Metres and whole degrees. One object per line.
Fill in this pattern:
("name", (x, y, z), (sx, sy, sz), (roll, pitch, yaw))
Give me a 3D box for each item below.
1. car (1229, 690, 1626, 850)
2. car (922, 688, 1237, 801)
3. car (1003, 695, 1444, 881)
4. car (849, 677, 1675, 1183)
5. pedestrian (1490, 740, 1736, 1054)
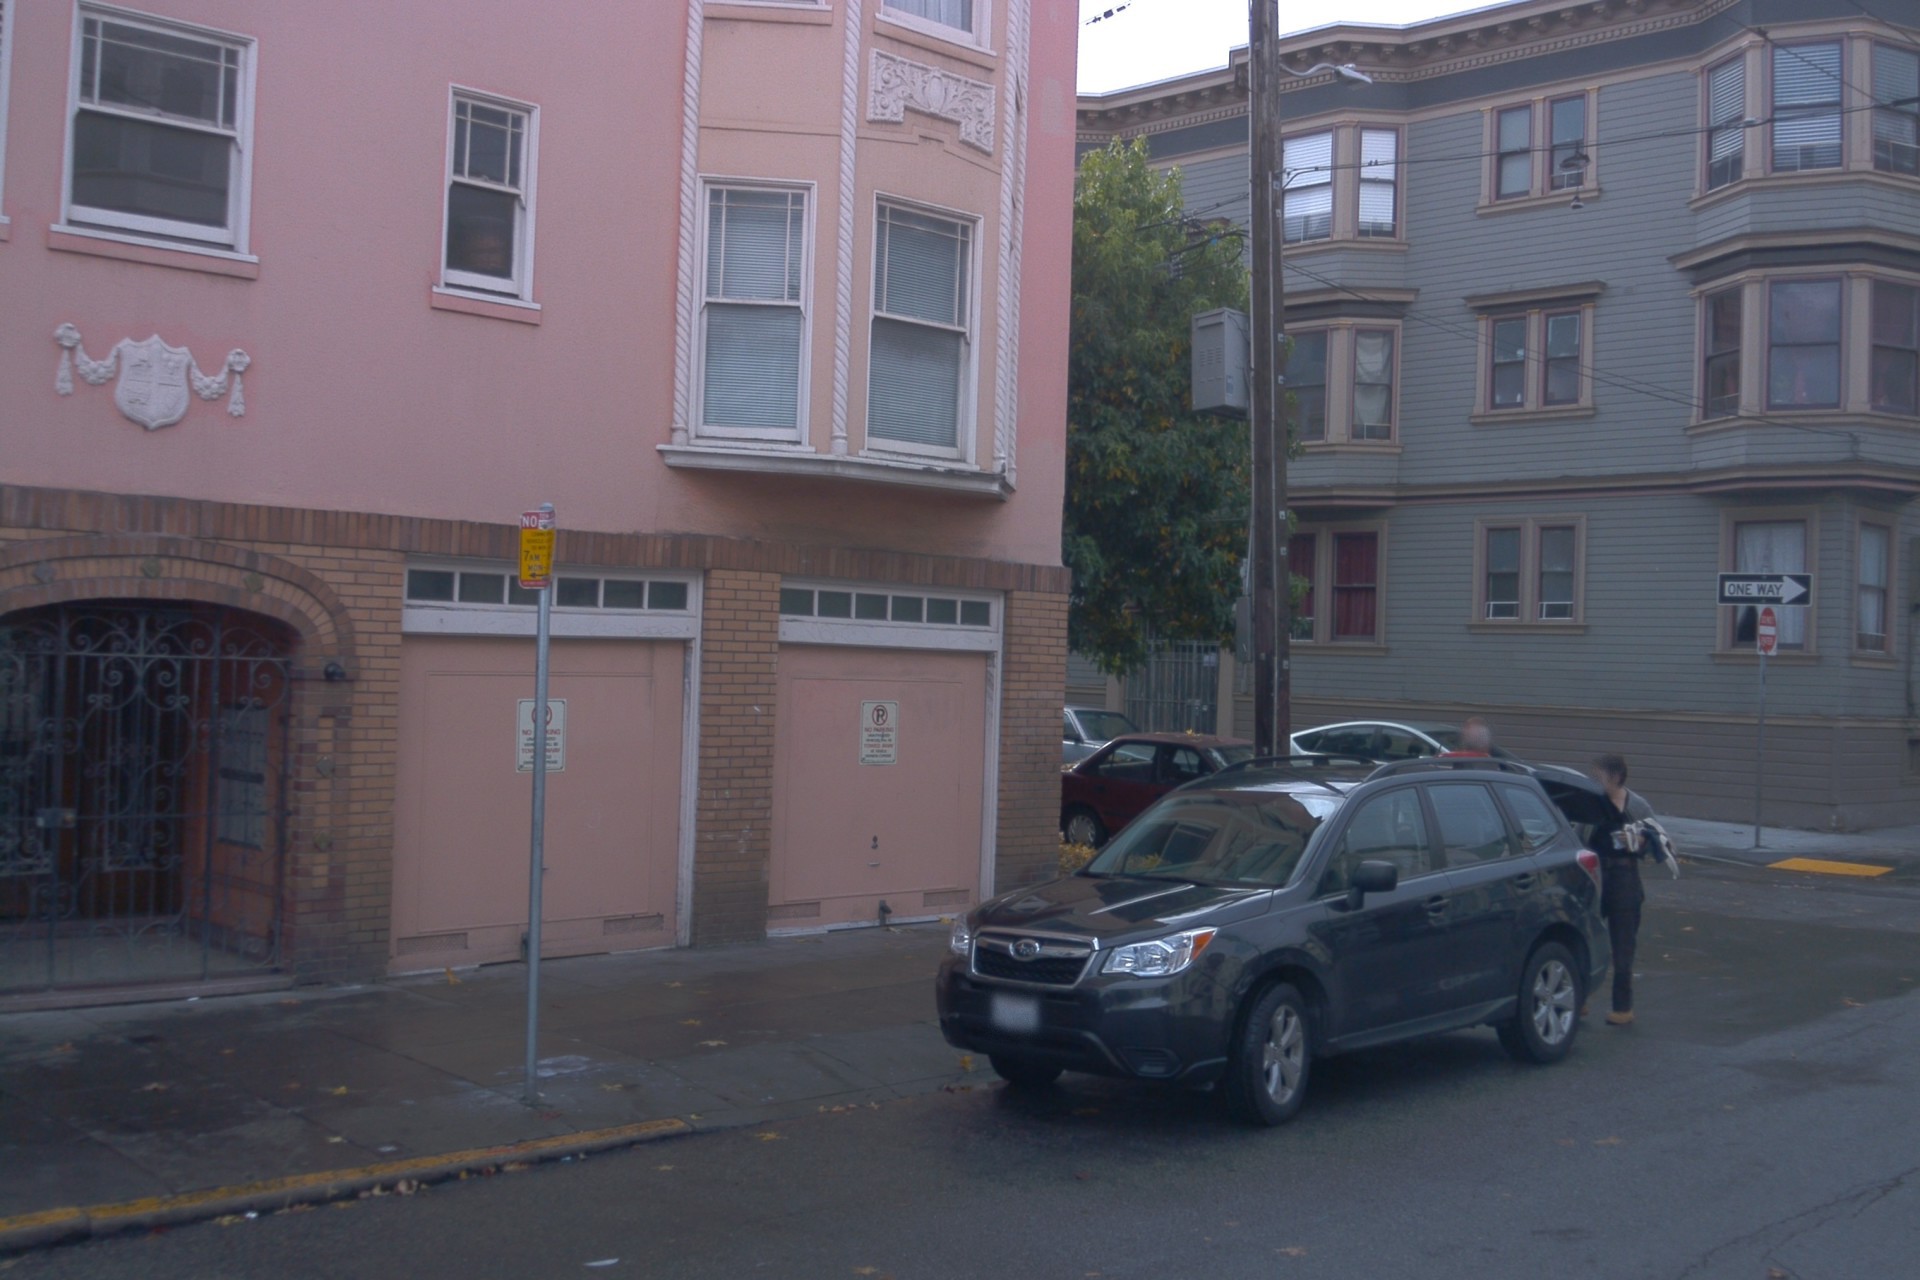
("car", (5.850, 1.564, 26.311), (4.448, 1.760, 2.070), (0, -1, 45))
("car", (1.705, 1.492, 30.687), (4.434, 1.440, 1.976), (0, -1, 45))
("car", (2.715, 1.476, 21.990), (4.313, 1.670, 1.876), (1, -1, 43))
("car", (1.867, 1.319, 11.419), (2.045, 2.150, 4.789), (0, -1, 44))
("pedestrian", (4.148, 1.570, 13.176), (1.124, 1.820, 1.052), (2, -1, -44))
